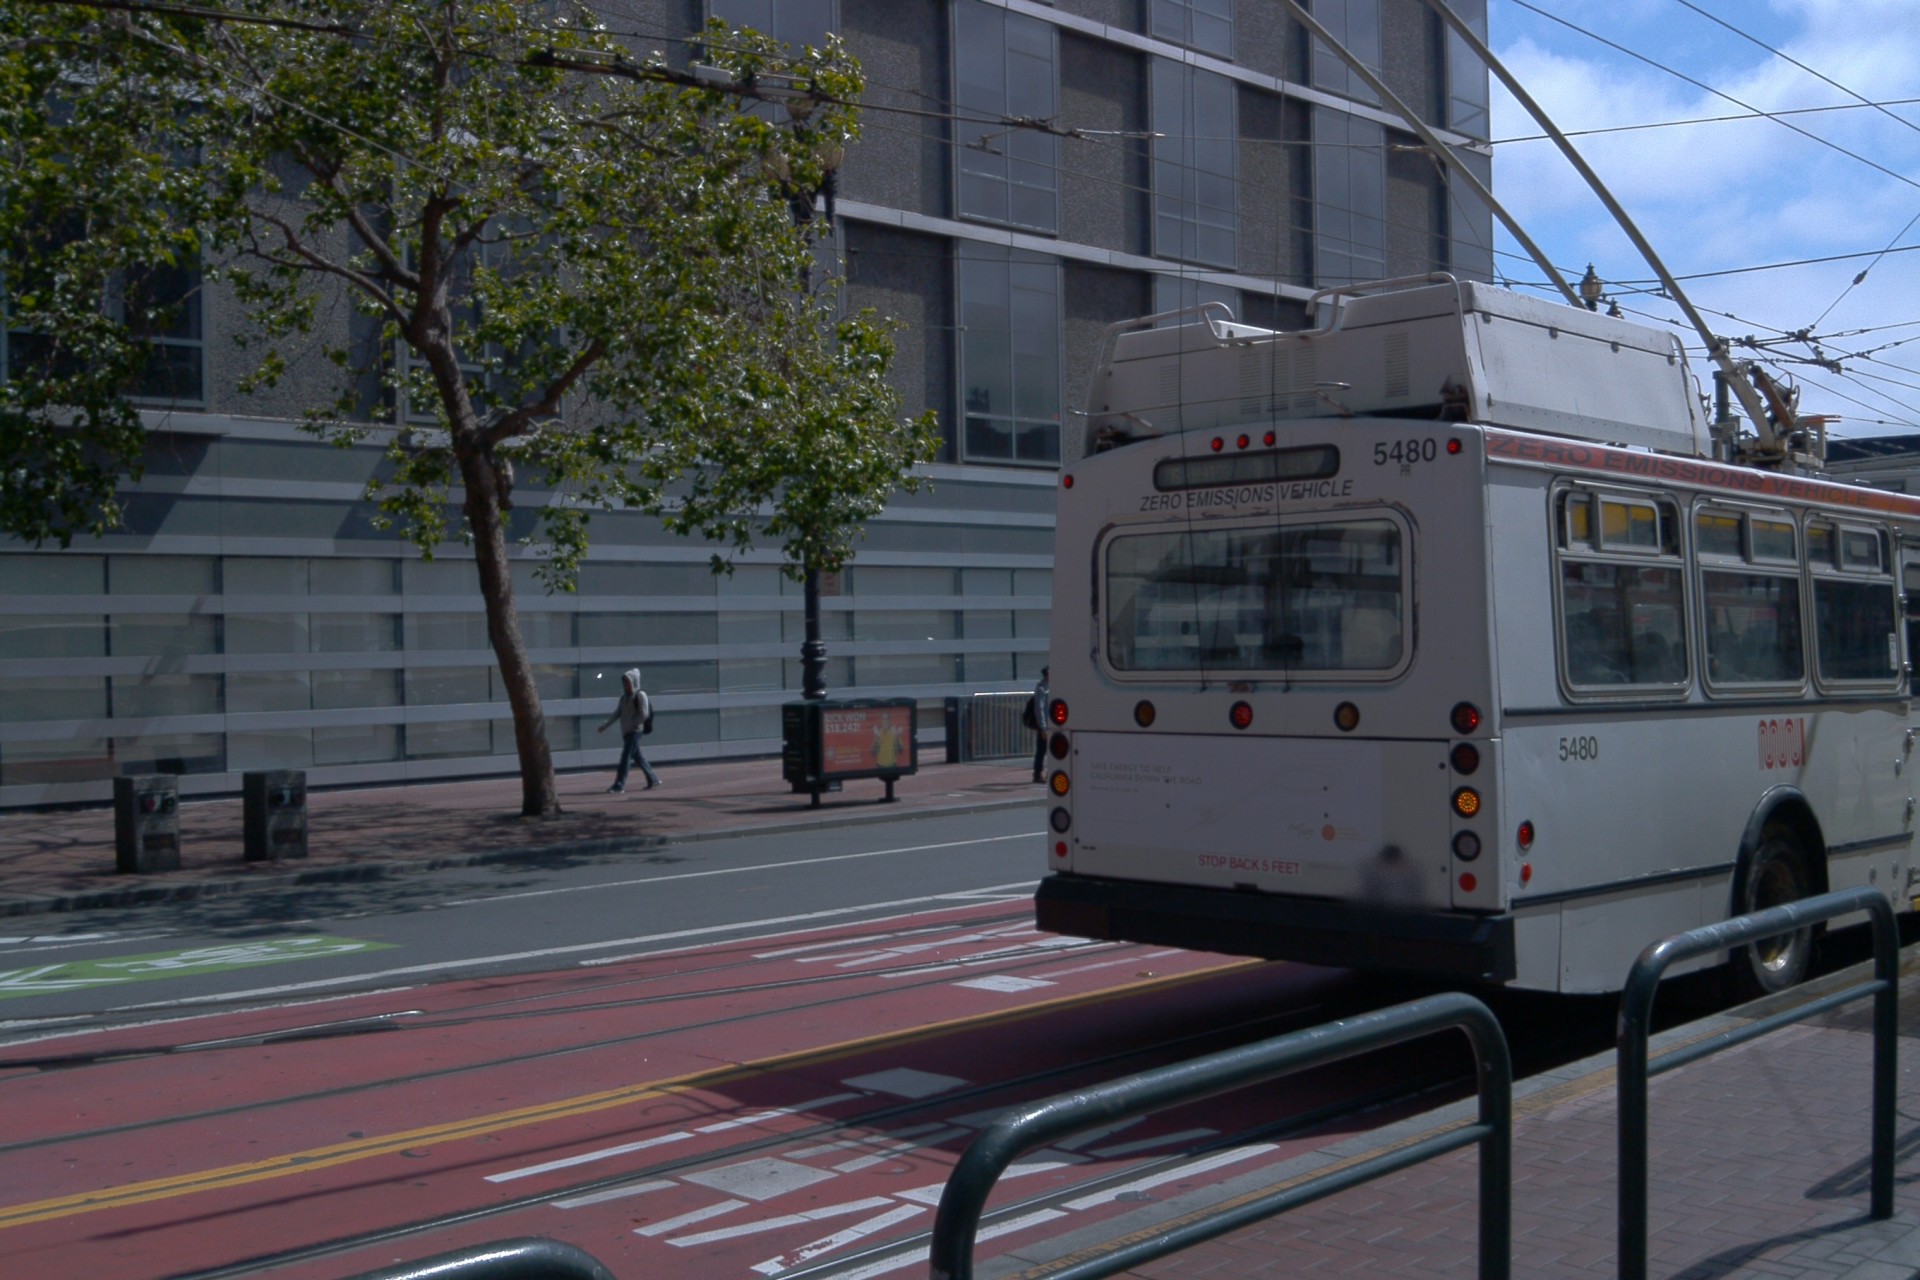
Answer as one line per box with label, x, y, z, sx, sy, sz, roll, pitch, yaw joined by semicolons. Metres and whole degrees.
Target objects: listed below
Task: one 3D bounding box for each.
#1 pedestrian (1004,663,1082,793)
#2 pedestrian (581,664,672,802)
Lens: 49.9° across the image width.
pedestrian;1.165;1.226;29.009;0.725;1.770;0.806;-1;1;-42
pedestrian;-4.524;1.240;28.002;0.978;1.810;0.733;-1;1;-43
